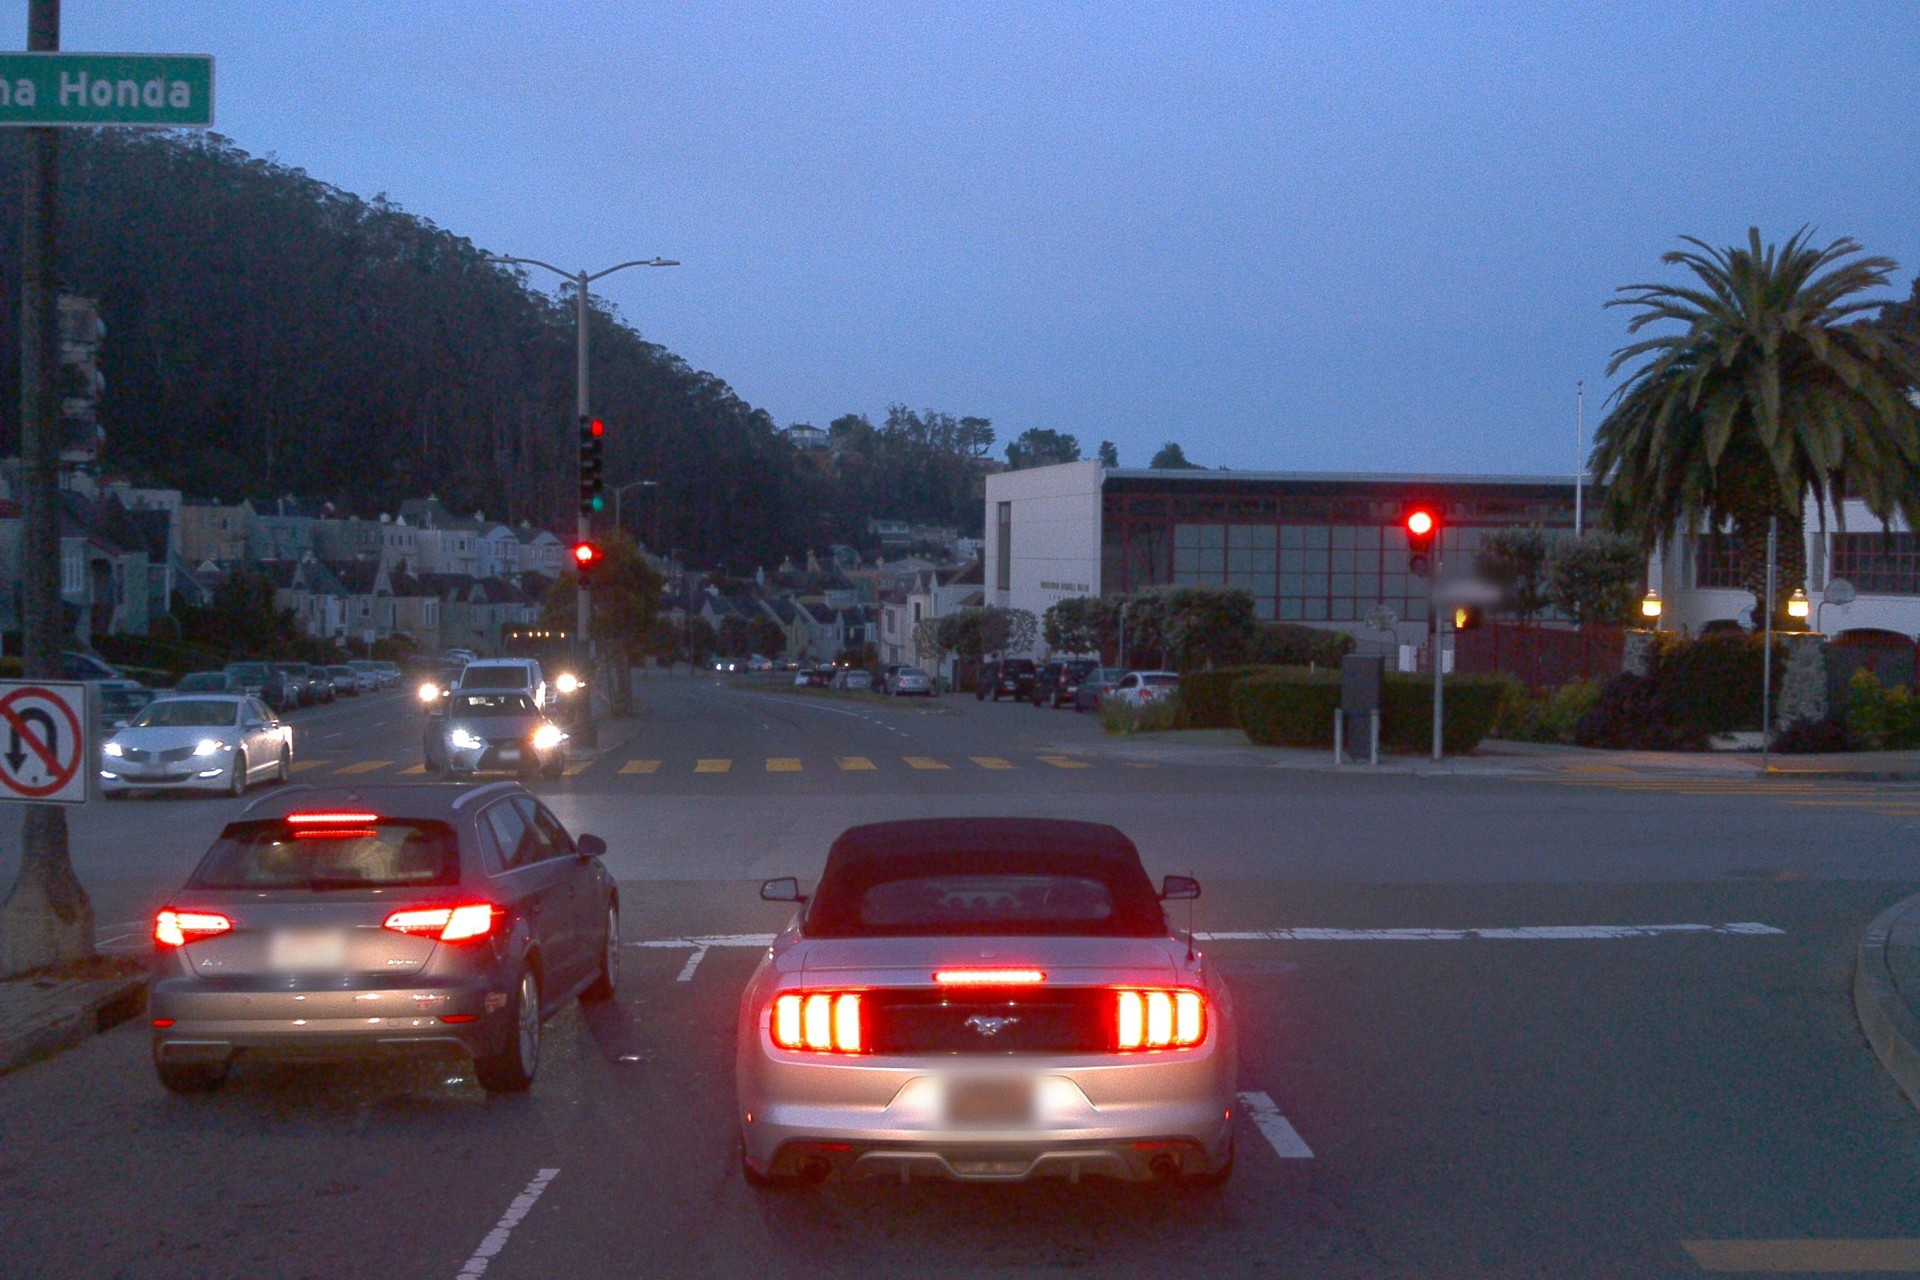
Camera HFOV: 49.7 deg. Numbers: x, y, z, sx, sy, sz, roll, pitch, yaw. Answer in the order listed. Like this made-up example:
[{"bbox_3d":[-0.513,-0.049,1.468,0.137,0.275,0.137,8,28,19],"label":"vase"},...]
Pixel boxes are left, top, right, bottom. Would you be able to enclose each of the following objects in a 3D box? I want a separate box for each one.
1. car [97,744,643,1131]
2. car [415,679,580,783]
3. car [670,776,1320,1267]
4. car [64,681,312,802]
[{"bbox_3d":[-2.886,1.403,11.058,1.782,1.510,3.987,0,0,0],"label":"car"},{"bbox_3d":[-7.592,1.411,33.648,2.029,1.490,4.669,0,0,-20],"label":"car"},{"bbox_3d":[0.099,1.418,9.110,2.174,1.380,4.355,0,0,0],"label":"car"},{"bbox_3d":[-11.164,1.413,30.345,2.170,1.550,4.847,0,0,-5],"label":"car"}]
